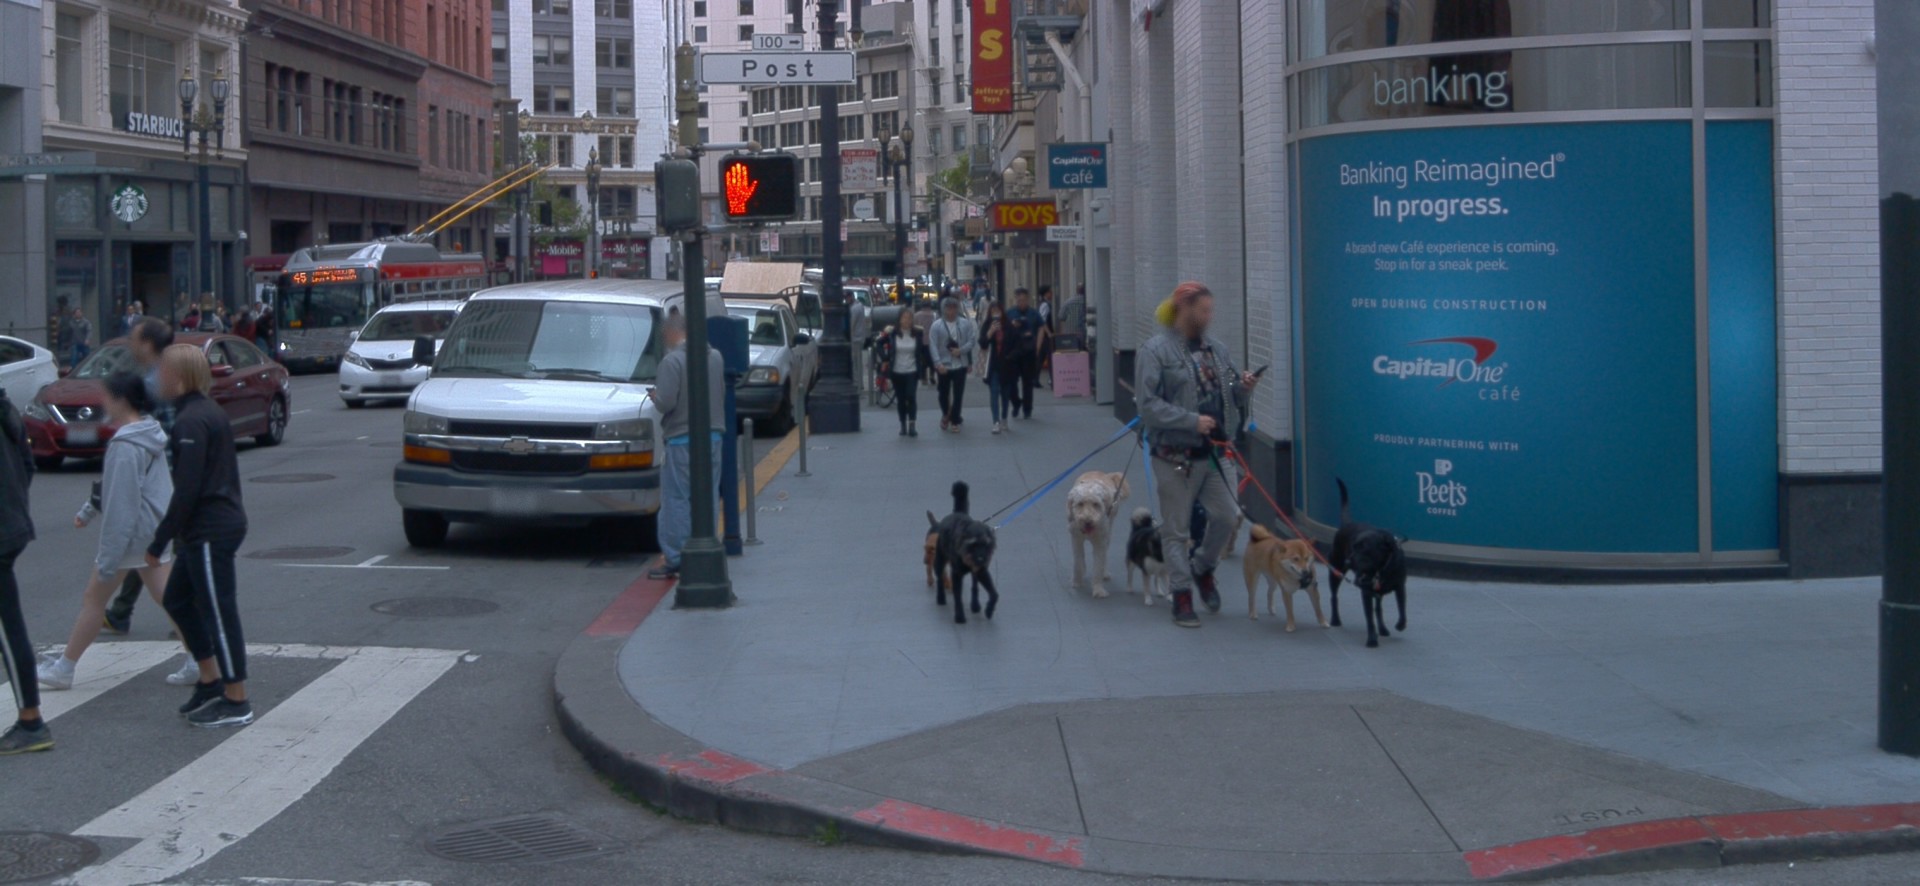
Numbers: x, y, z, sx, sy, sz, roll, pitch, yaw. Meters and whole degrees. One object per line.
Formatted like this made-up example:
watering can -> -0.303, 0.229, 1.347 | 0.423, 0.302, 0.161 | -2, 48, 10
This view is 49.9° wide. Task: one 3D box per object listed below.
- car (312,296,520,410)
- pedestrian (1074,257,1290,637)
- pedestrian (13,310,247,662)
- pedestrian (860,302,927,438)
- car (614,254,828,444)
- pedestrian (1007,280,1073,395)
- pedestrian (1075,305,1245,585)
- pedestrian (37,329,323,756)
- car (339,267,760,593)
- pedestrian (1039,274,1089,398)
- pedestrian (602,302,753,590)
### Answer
car -> -9.308, -1.624, 35.800 | 2.323, 1.694, 4.912 | 0, 5, 0
pedestrian -> 1.198, -0.030, 11.312 | 0.914, 1.971, 0.935 | 0, 1, -14
pedestrian -> -4.634, 0.201, 11.583 | 0.995, 1.871, 0.817 | 0, 1, -3
pedestrian -> -0.822, -0.927, 25.751 | 0.793, 1.641, 0.804 | 0, 1, 1
car -> -3.310, -1.518, 30.021 | 2.185, 2.422, 6.328 | 0, 5, 2
pedestrian -> 1.375, -1.825, 35.450 | 0.860, 1.931, 0.848 | 0, 1, -22
pedestrian -> 1.243, -0.023, 13.042 | 0.960, 1.671, 0.954 | 0, 1, -2
pedestrian -> -3.629, 0.422, 9.687 | 1.092, 1.871, 0.765 | 0, 1, -7
car -> -3.275, -0.364, 18.110 | 2.488, 2.262, 6.320 | 0, 5, -1
pedestrian -> 1.751, -1.811, 34.701 | 0.765, 2.031, 0.741 | 0, 0, 9
pedestrian -> -1.878, -0.015, 13.725 | 0.656, 1.821, 0.744 | 0, 1, 43
